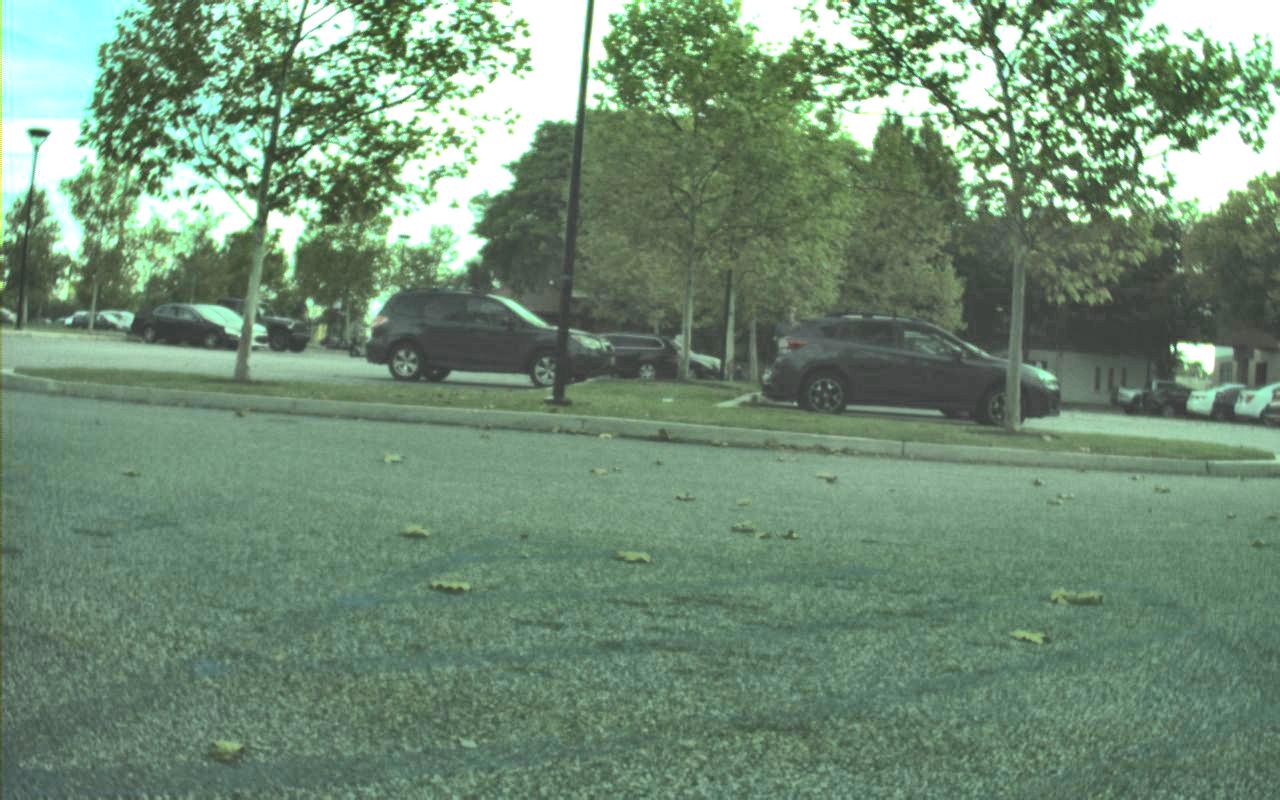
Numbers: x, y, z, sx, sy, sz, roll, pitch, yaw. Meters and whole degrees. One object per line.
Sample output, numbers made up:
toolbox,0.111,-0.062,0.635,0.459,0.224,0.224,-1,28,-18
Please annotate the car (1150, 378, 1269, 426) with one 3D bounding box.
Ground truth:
car,21.164,0.168,43.054,4.665,1.732,2.030,1,1,23

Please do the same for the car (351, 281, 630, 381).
car,-2.687,-1.230,22.829,4.747,1.696,2.022,1,1,8

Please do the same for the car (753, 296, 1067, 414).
car,4.033,-0.658,18.833,4.636,1.675,1.980,1,1,6
